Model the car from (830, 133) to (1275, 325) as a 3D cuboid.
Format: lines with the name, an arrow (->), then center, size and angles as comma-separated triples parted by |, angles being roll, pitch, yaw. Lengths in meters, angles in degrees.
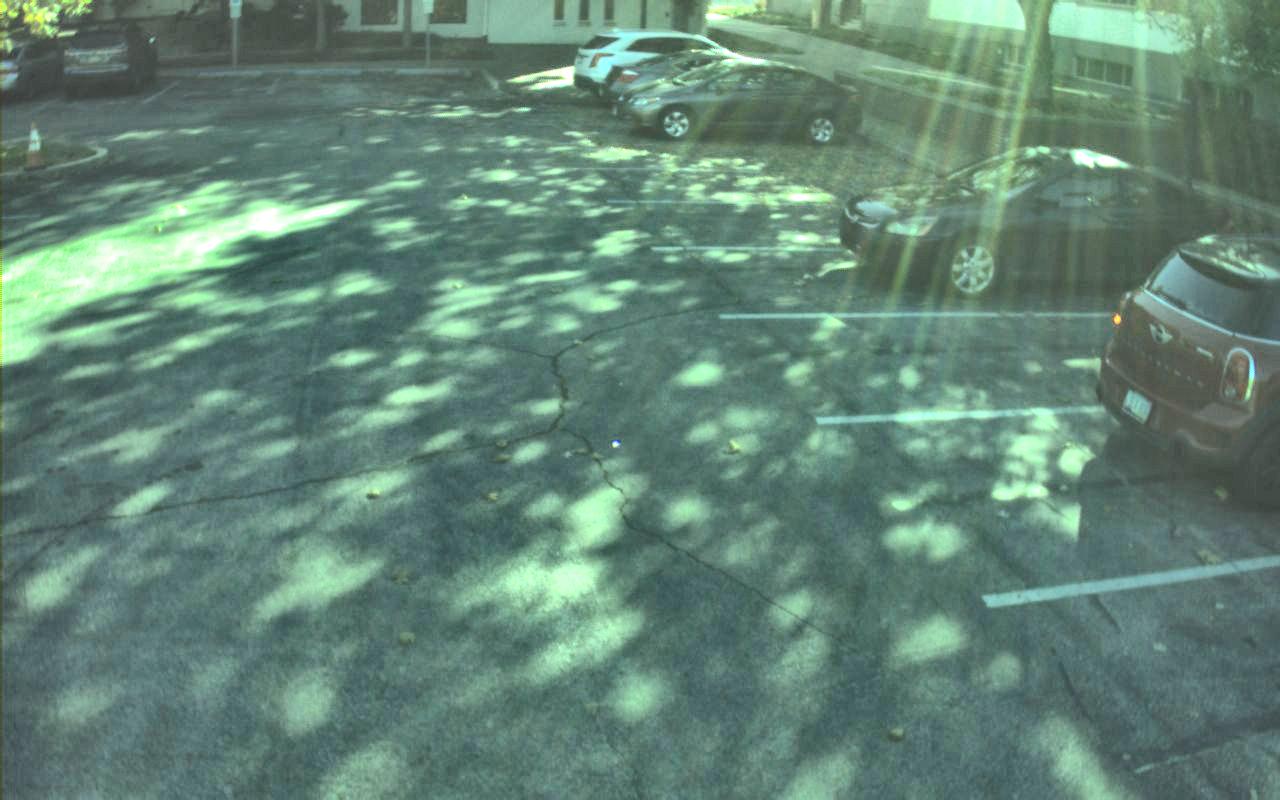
car -> 4.428, -1.913, 12.646 | 4.554, 1.591, 1.979 | -5, 17, -12

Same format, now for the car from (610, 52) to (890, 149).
car -> 1.960, -5.447, 22.249 | 4.687, 1.586, 1.999 | -4, 17, -11

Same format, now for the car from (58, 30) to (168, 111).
car -> -13.099, -8.194, 28.216 | 1.998, 1.704, 4.649 | -5, 17, -12

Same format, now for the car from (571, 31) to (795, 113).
car -> 0.912, -7.159, 26.799 | 4.502, 1.649, 1.968 | -5, 17, -14

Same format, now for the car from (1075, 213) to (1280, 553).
car -> 5.467, -0.344, 7.891 | 4.490, 1.662, 1.963 | -5, 17, -13

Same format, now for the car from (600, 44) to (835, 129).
car -> 1.511, -6.257, 24.485 | 4.306, 1.544, 1.924 | -5, 17, -12
